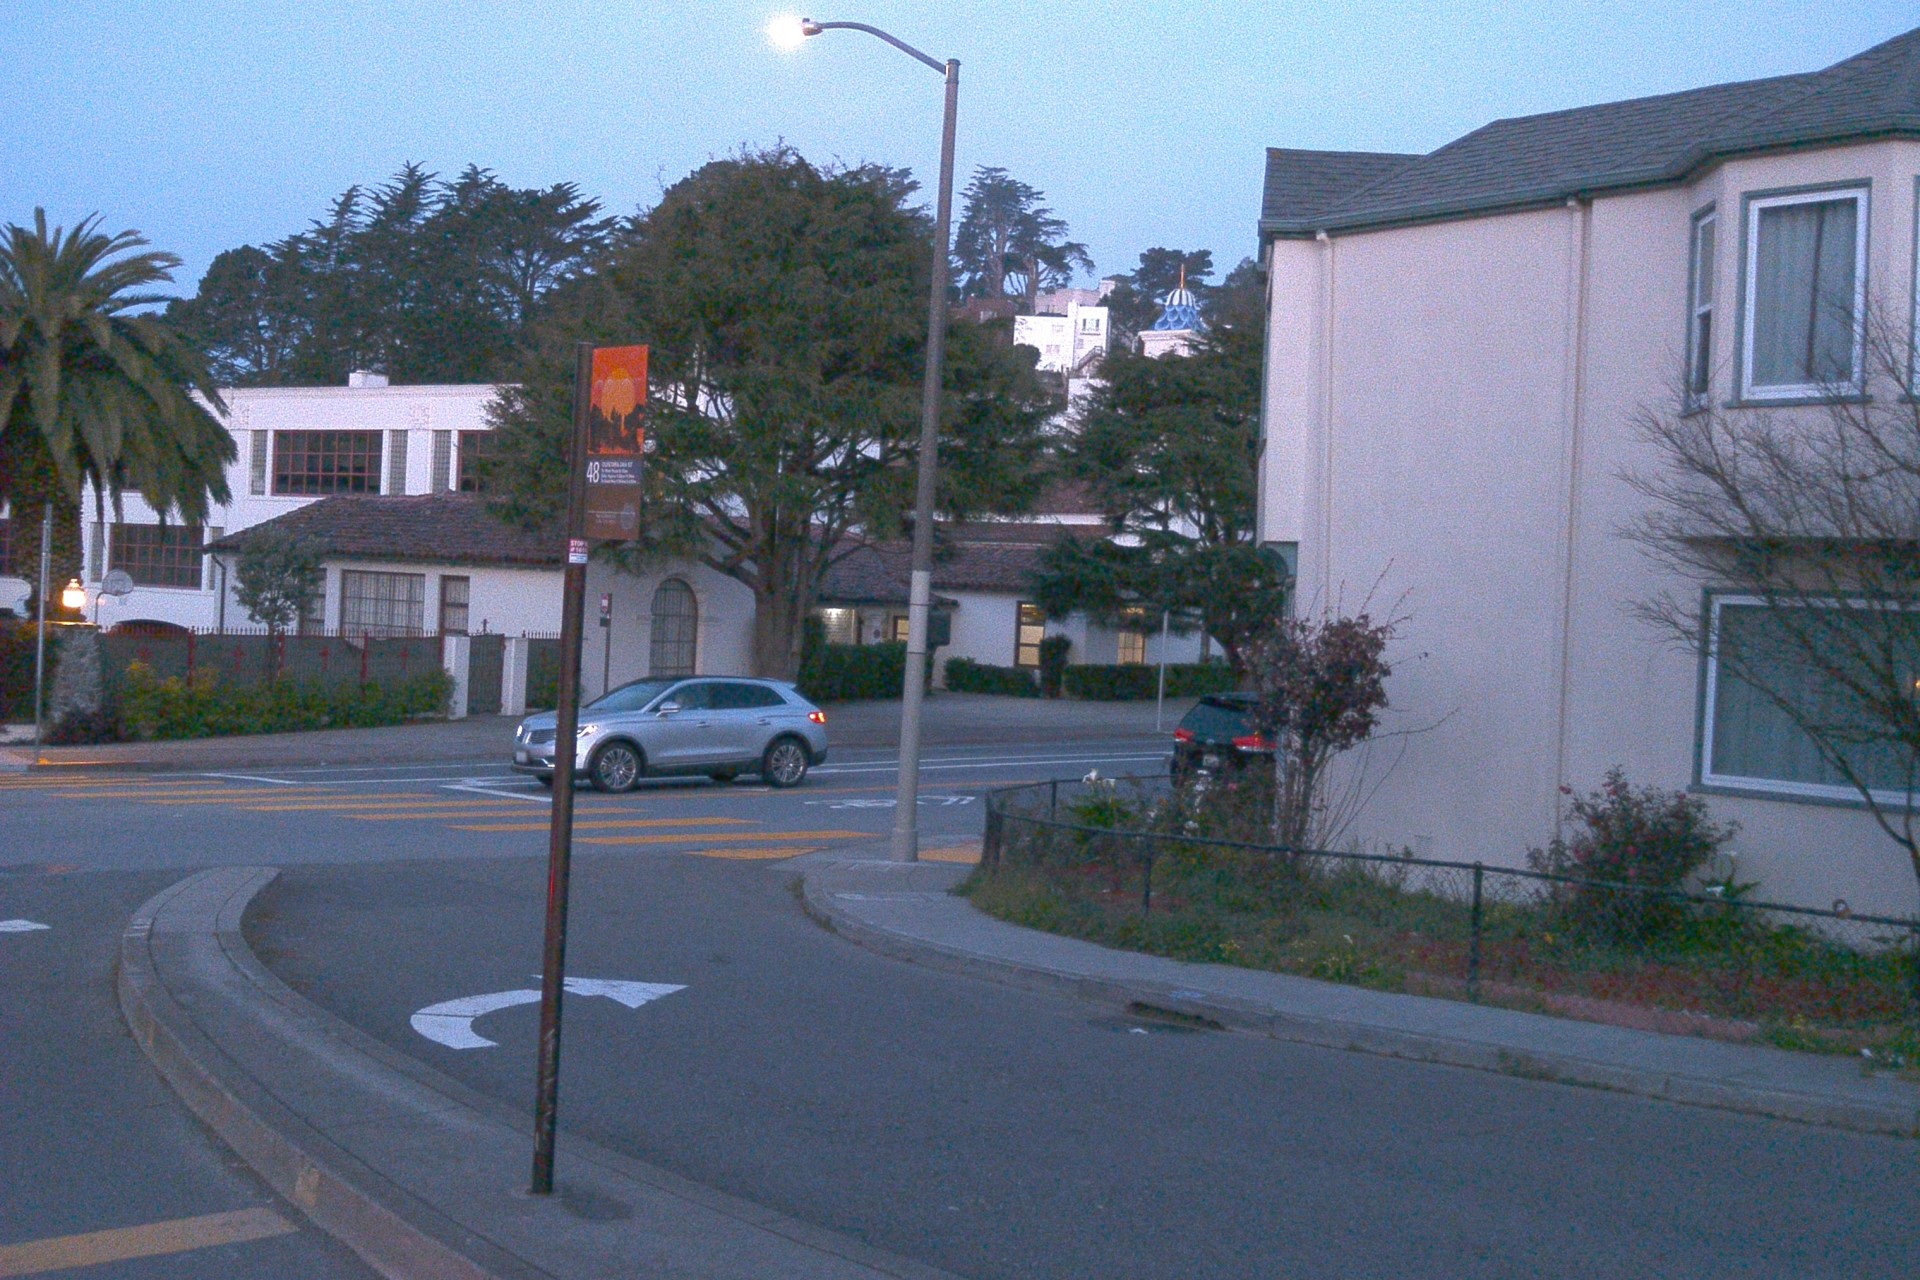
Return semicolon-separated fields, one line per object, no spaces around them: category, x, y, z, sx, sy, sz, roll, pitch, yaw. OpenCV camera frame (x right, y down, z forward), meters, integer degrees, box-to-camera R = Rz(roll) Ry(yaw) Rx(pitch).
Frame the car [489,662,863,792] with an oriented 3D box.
car;-4.105;1.208;30.728;5.027;1.730;2.150;1;0;-39

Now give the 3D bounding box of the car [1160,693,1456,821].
car;5.027;1.631;30.201;3.819;1.660;2.058;1;0;-34
